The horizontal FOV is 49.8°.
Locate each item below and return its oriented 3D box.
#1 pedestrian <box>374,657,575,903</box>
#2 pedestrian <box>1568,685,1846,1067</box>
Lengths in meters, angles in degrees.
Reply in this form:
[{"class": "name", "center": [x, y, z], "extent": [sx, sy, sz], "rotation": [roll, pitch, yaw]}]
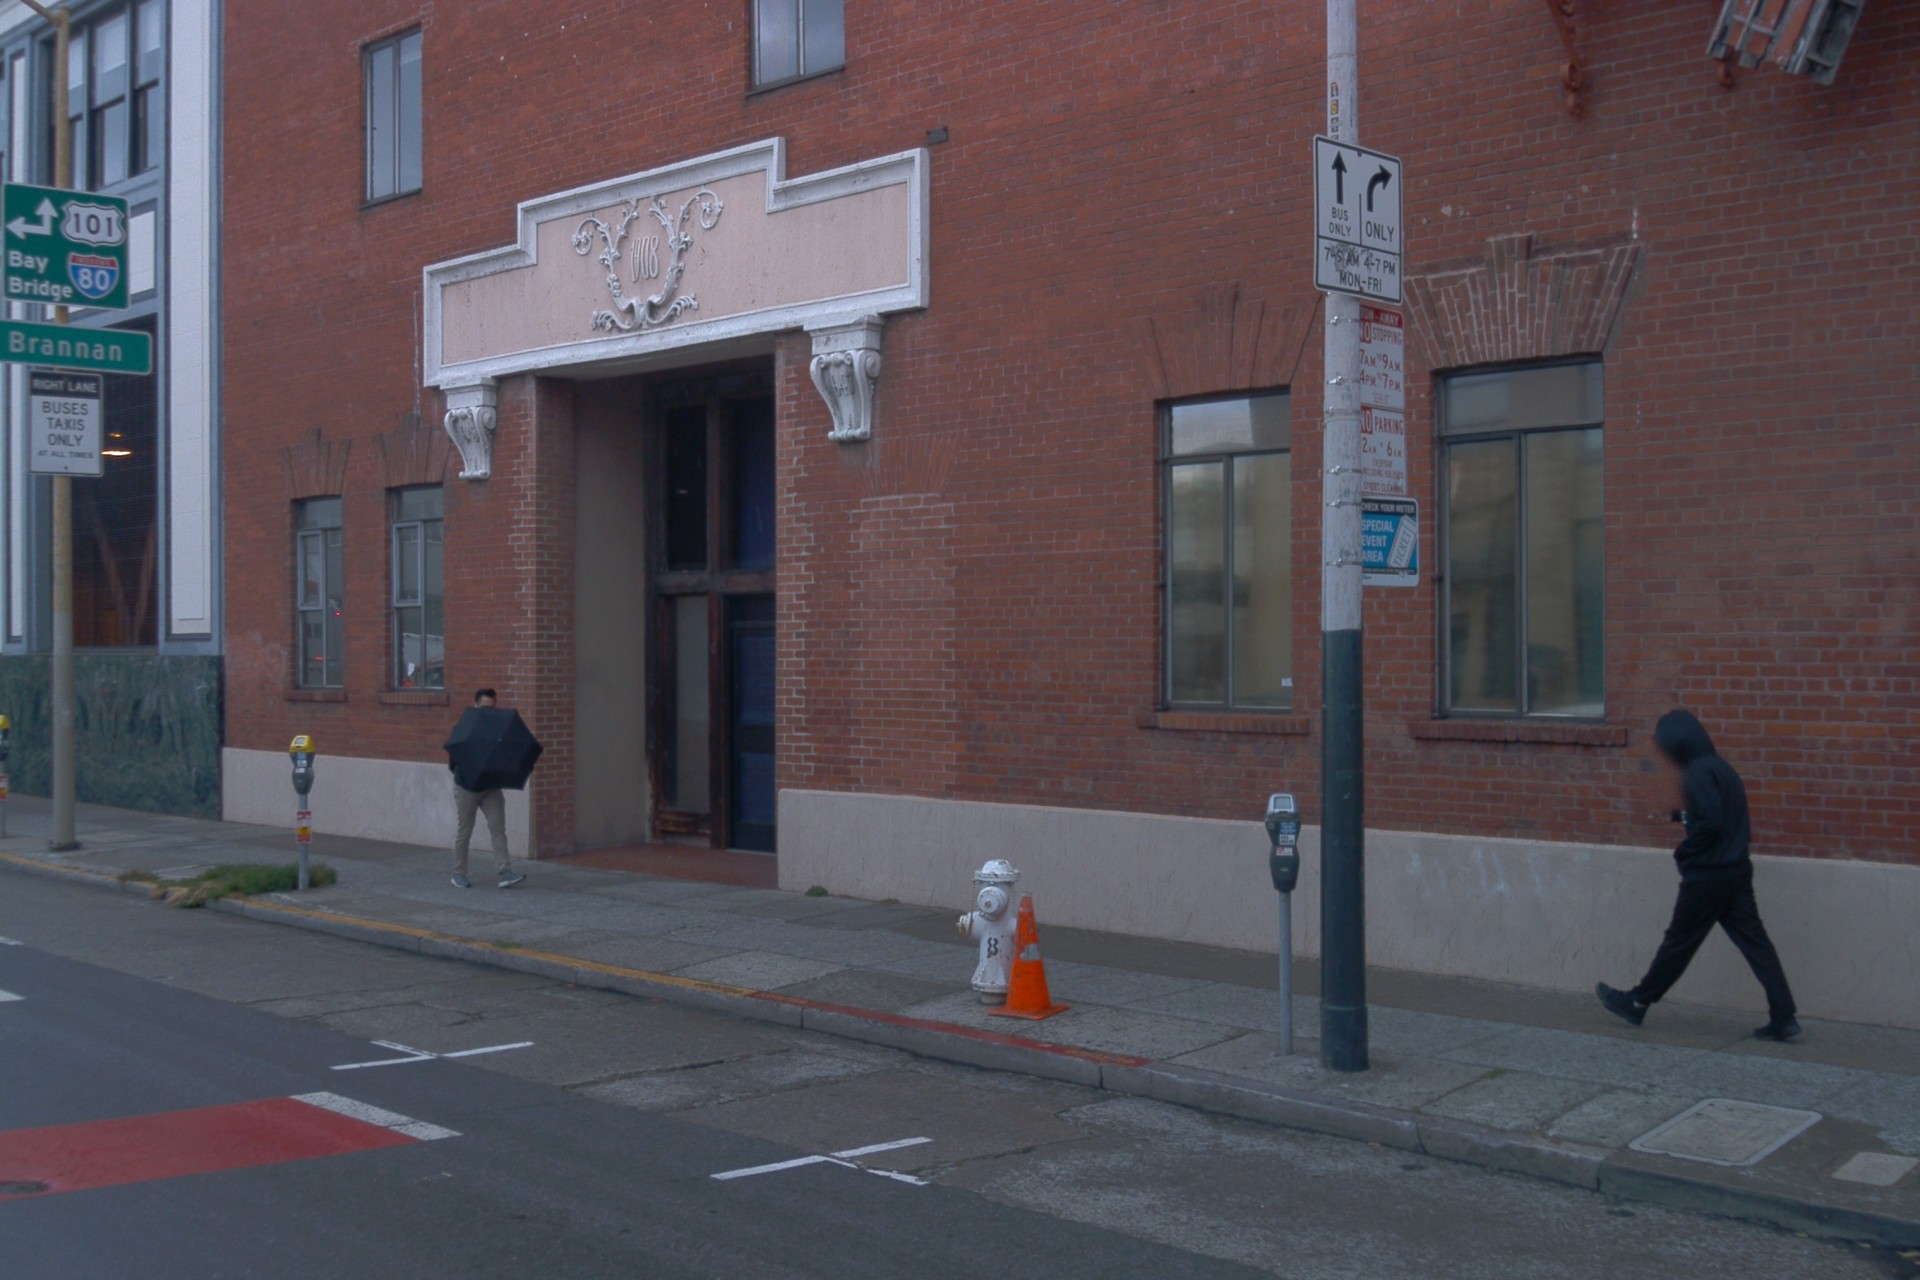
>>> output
[{"class": "pedestrian", "center": [-4.119, 1.131, 17.523], "extent": [1.005, 1.970, 1.539], "rotation": [1, -1, -43]}, {"class": "pedestrian", "center": [3.895, 1.167, 10.808], "extent": [0.798, 1.848, 1.126], "rotation": [1, -1, -45]}]
